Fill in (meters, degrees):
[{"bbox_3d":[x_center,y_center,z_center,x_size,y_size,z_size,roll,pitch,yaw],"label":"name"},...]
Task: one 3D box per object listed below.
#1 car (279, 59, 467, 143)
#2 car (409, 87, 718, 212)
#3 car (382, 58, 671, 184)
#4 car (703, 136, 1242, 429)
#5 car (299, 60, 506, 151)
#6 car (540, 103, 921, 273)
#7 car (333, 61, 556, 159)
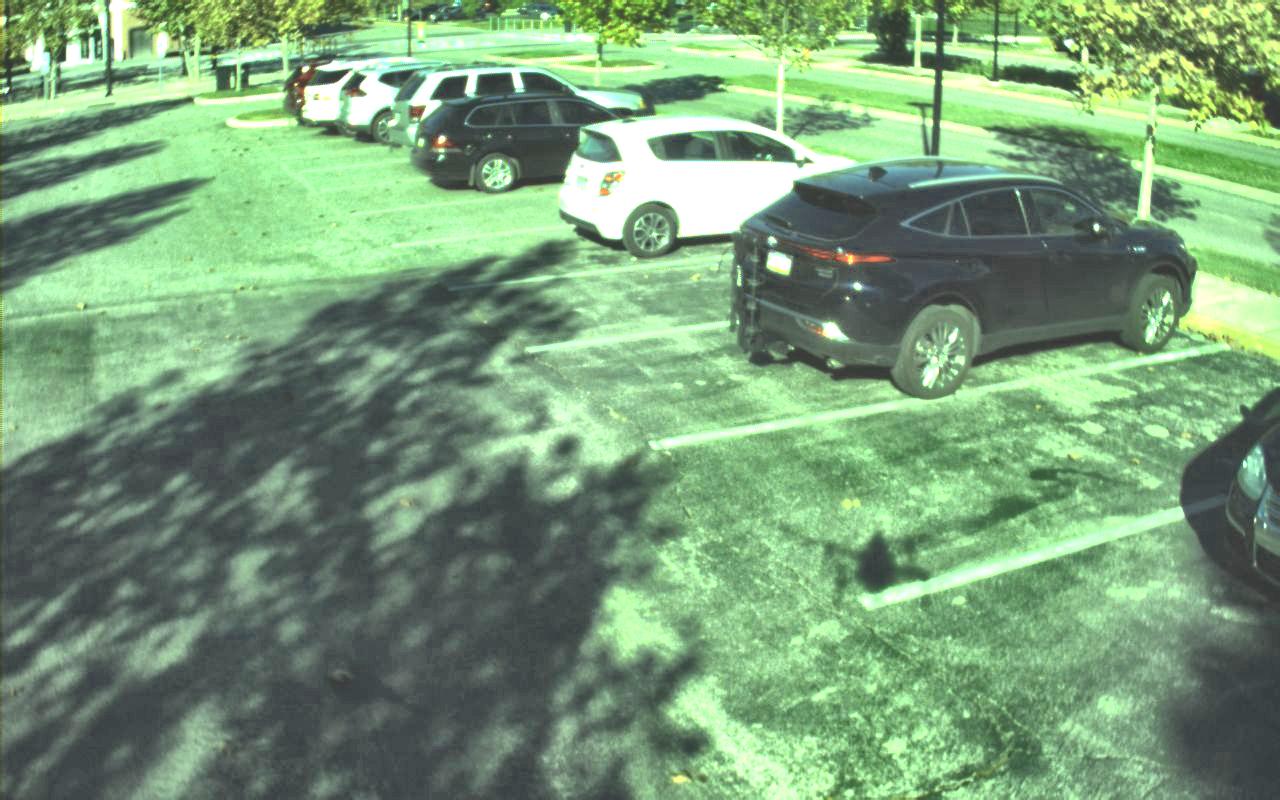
[{"bbox_3d":[-6.909,-7.703,31.179,4.533,1.745,1.997,-9,18,-24],"label":"car"},{"bbox_3d":[-1.232,-4.054,19.778,4.523,1.564,1.941,-8,18,-22],"label":"car"},{"bbox_3d":[-2.060,-5.061,22.118,4.793,1.873,2.062,-8,17,-21],"label":"car"},{"bbox_3d":[3.022,-1.230,10.375,4.628,1.743,1.990,-9,18,-26],"label":"car"},{"bbox_3d":[-5.631,-6.961,28.664,4.576,1.750,2.000,-8,18,-23],"label":"car"},{"bbox_3d":[1.141,-2.723,15.349,4.318,1.636,1.920,-8,18,-23],"label":"car"},{"bbox_3d":[-4.267,-6.312,26.541,4.492,1.742,1.969,-8,18,-23],"label":"car"}]
